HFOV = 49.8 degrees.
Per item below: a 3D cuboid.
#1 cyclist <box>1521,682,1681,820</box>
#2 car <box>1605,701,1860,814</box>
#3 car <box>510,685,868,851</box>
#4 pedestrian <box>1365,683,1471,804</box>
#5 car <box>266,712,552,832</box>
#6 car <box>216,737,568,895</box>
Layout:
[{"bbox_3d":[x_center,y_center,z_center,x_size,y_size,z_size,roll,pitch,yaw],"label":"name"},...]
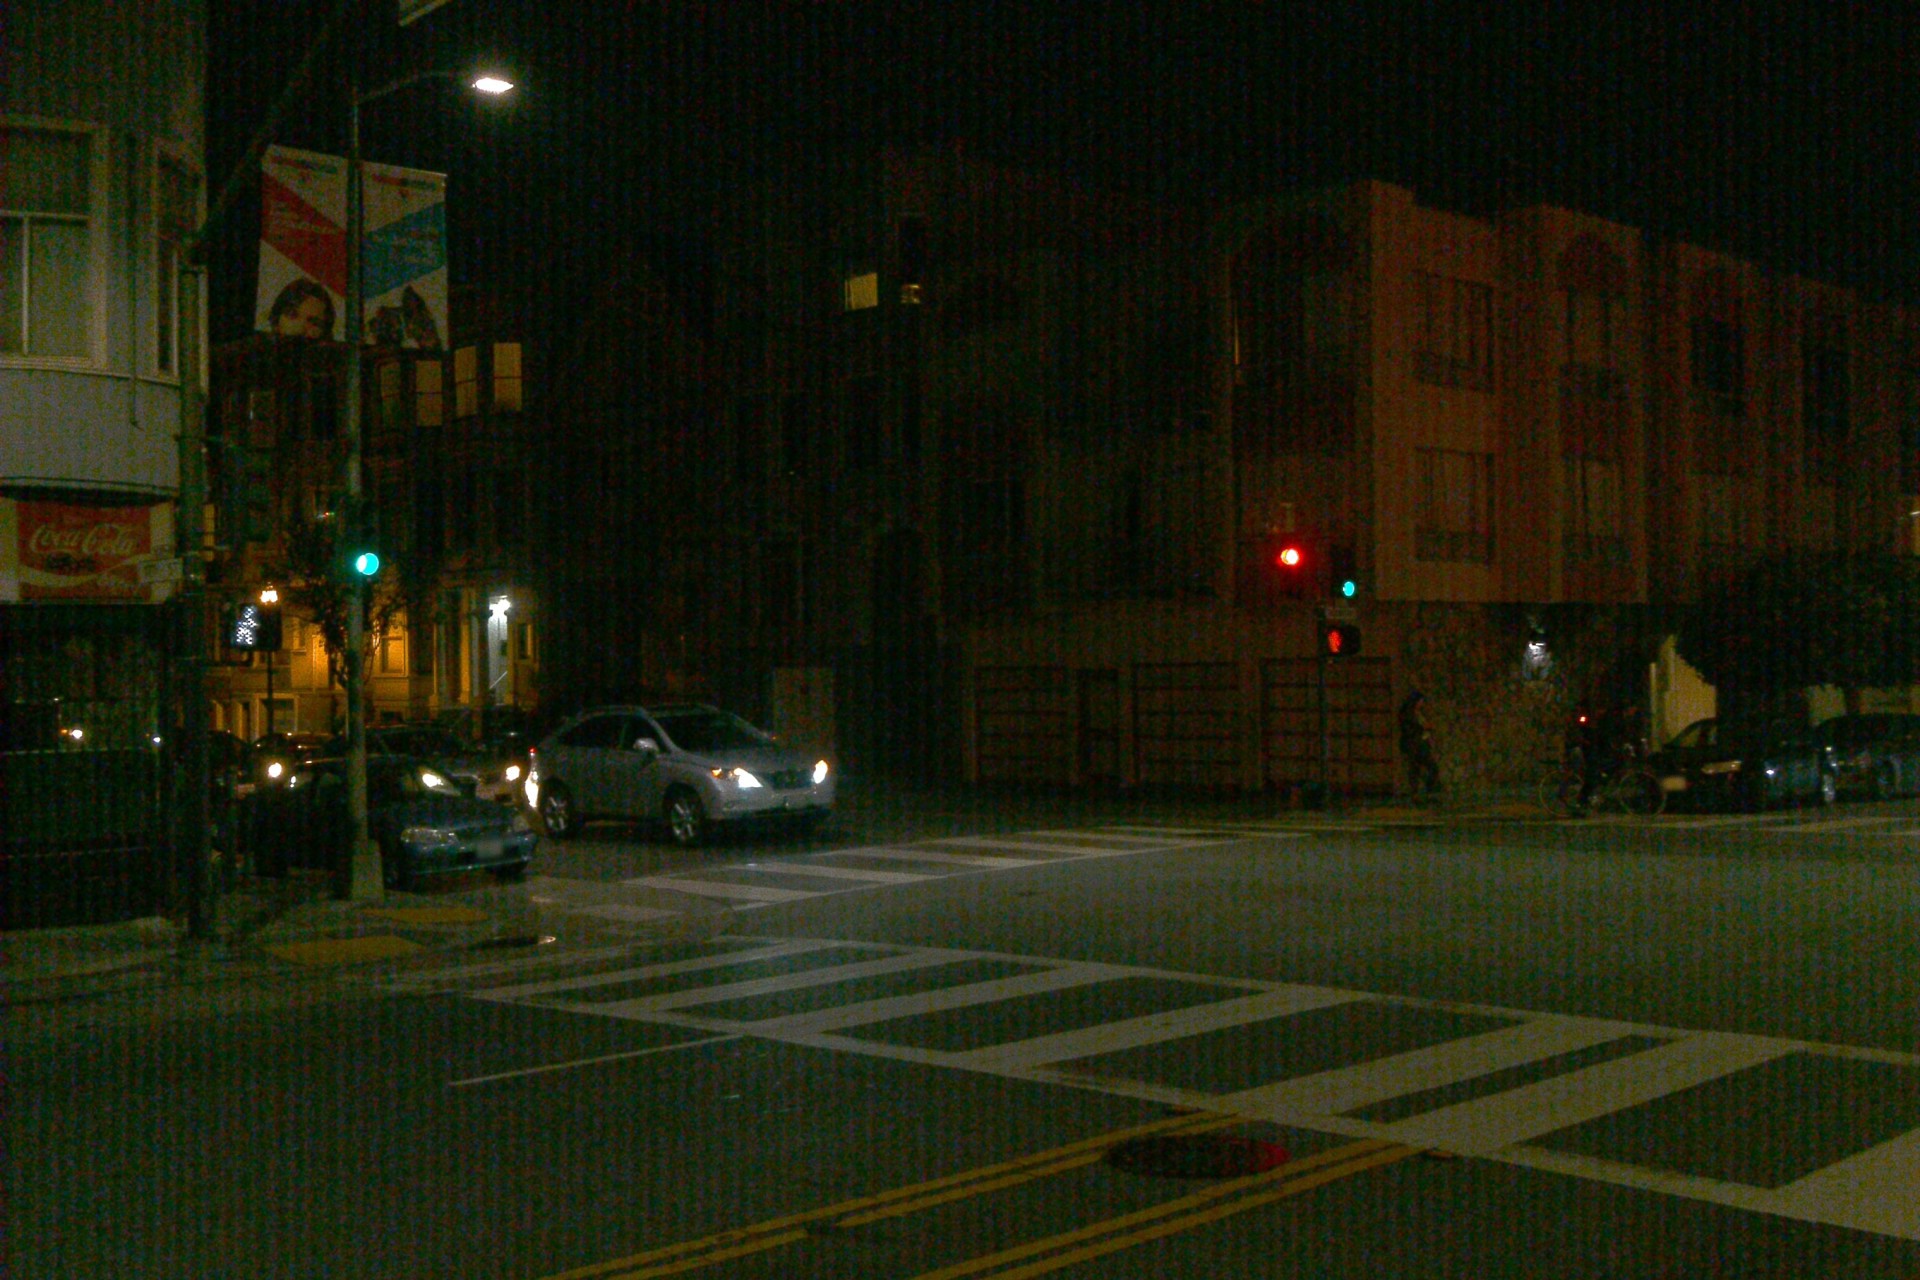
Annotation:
[{"bbox_3d":[8.754,1.491,28.233,1.894,1.760,0.832,1,0,33],"label":"cyclist"},{"bbox_3d":[11.641,1.701,30.974,1.967,1.430,4.633,1,0,42],"label":"car"},{"bbox_3d":[-3.527,1.529,26.255,2.139,1.760,4.613,1,0,-44],"label":"car"},{"bbox_3d":[6.731,1.500,30.392,1.175,1.690,0.935,1,0,43],"label":"pedestrian"},{"bbox_3d":[-8.351,1.919,31.100,4.459,1.450,2.125,1,0,44],"label":"car"},{"bbox_3d":[-6.442,1.888,23.173,1.946,1.350,4.278,1,0,-44],"label":"car"}]
